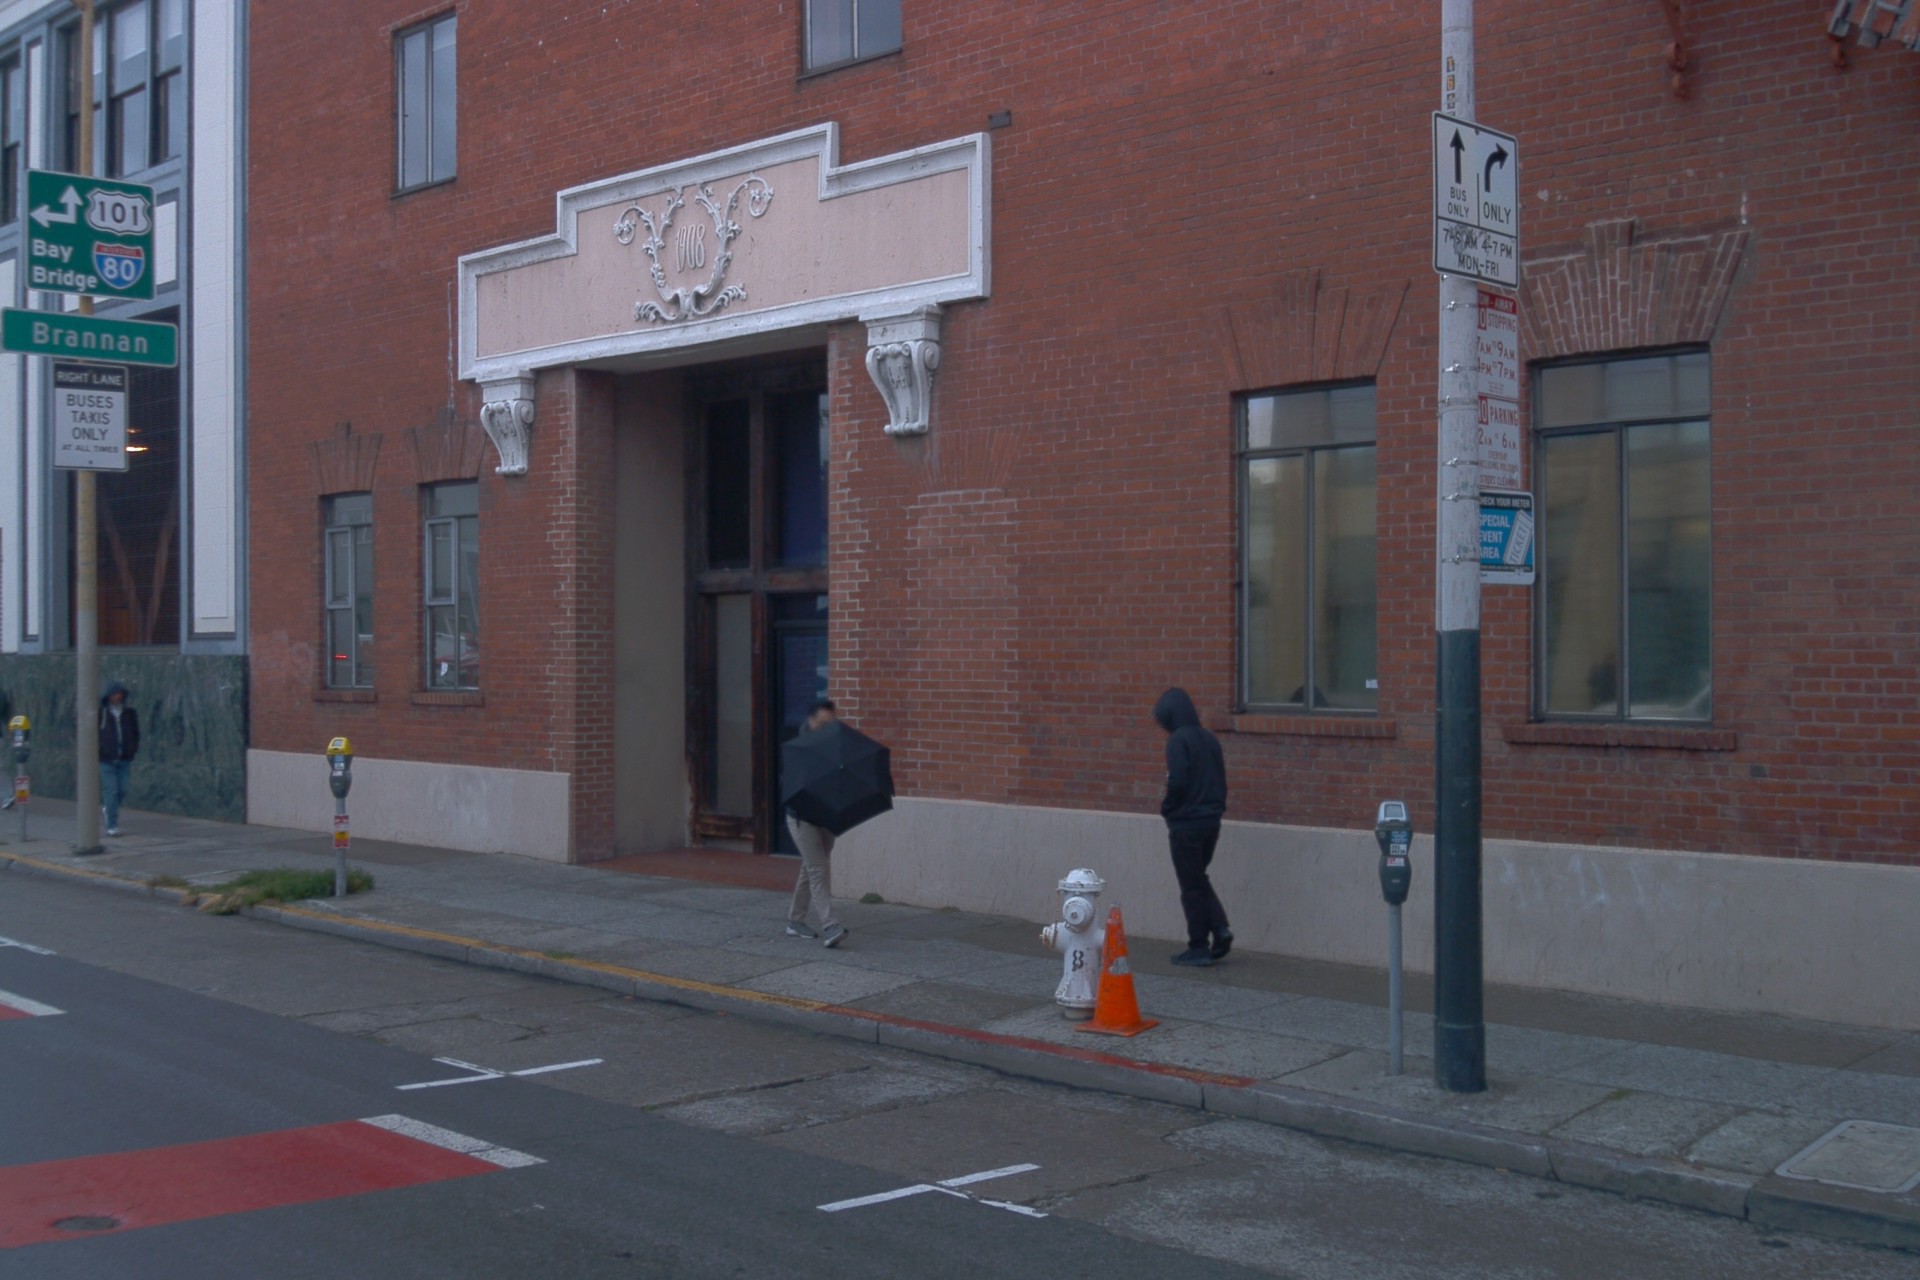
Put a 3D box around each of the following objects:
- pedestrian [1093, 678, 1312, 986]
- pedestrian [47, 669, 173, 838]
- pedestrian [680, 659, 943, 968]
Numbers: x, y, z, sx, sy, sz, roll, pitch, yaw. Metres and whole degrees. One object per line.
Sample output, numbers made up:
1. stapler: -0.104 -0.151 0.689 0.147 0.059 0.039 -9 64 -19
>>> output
1. pedestrian: 1.543 1.174 13.209 0.798 1.848 1.126 1 -1 -44
2. pedestrian: -9.124 1.187 22.217 1.042 1.750 0.893 0 -1 44
3. pedestrian: -1.025 1.121 14.147 1.540 1.970 1.005 0 -1 44
